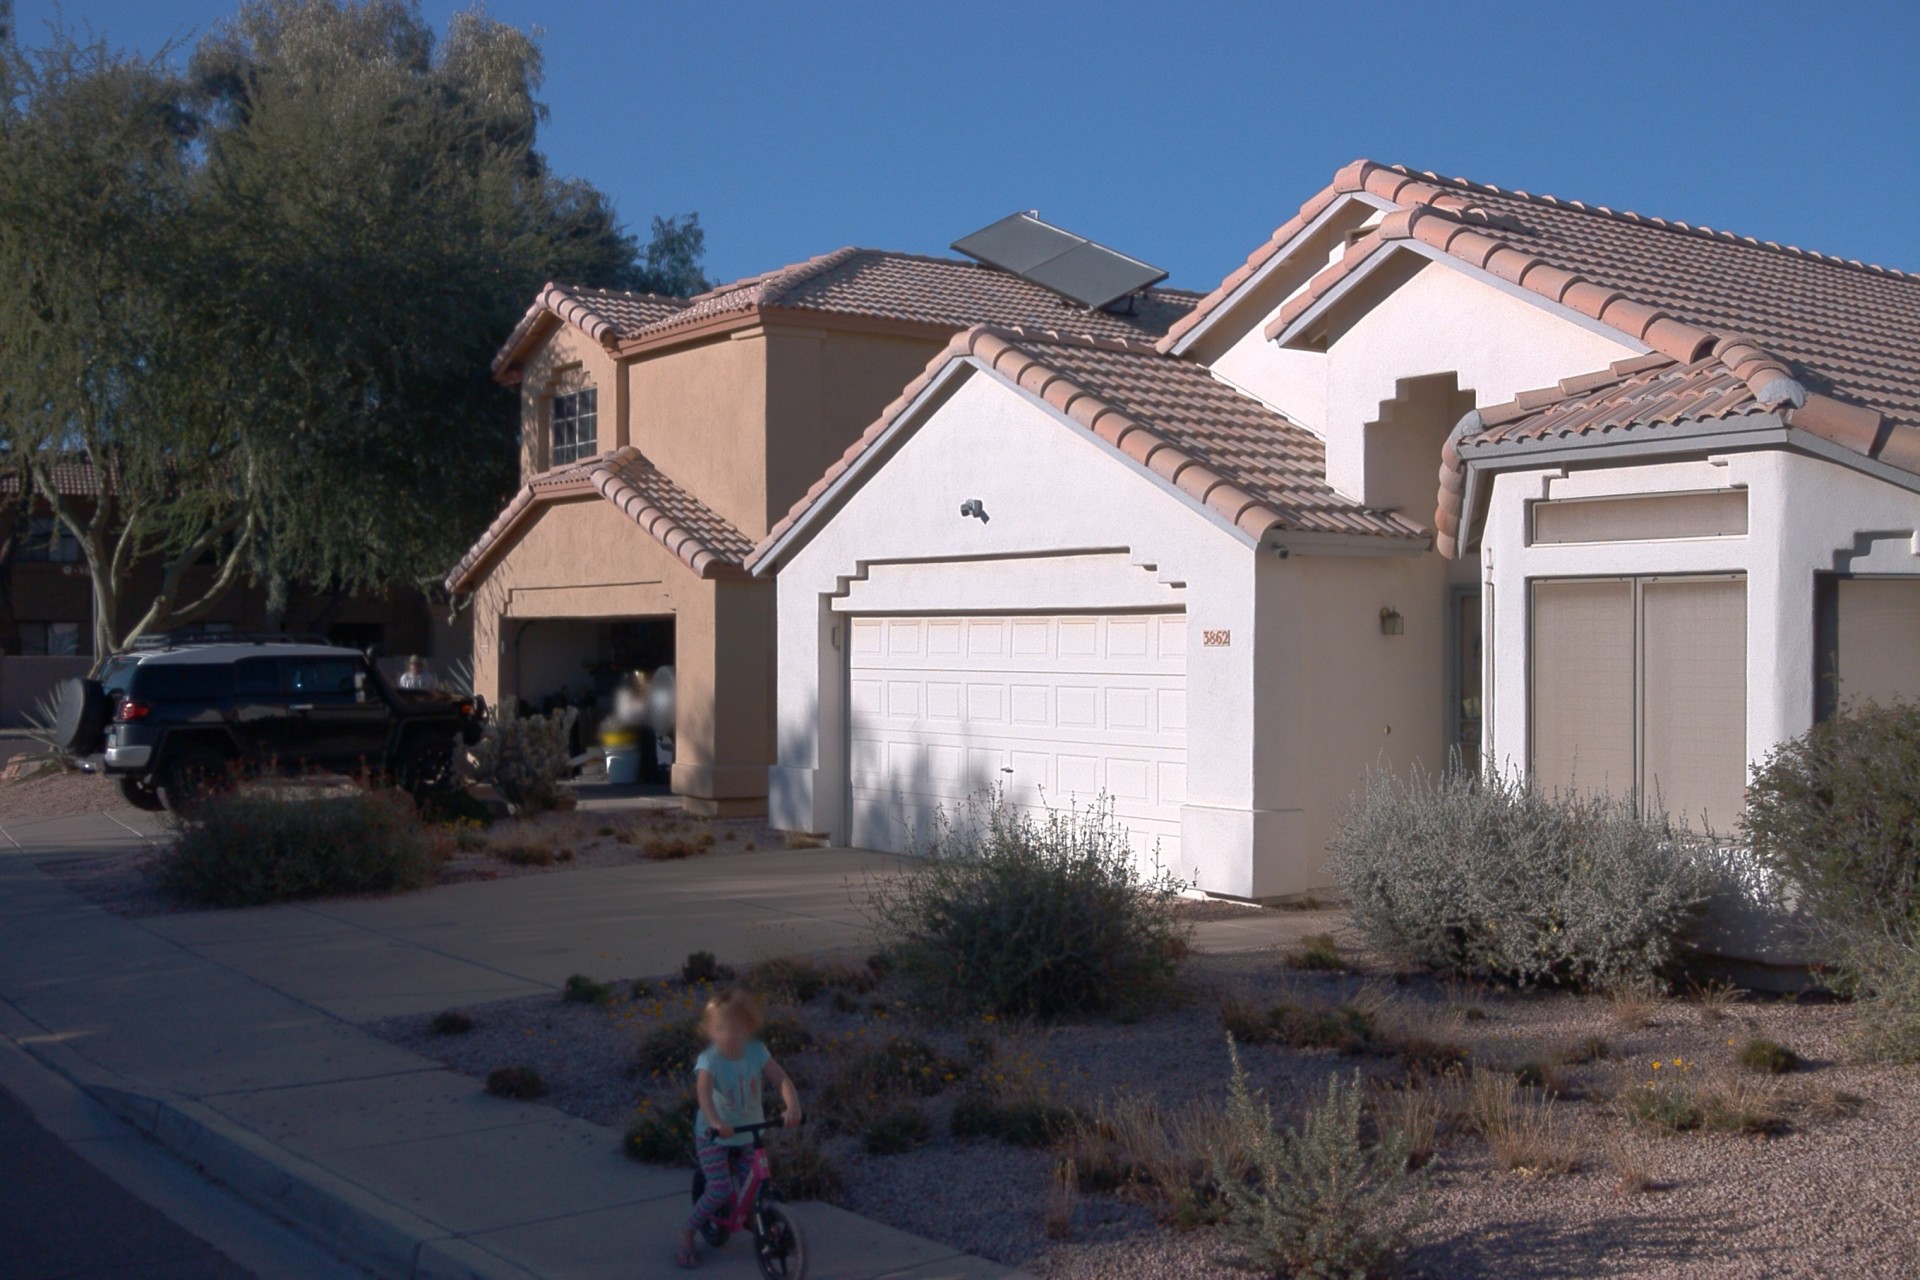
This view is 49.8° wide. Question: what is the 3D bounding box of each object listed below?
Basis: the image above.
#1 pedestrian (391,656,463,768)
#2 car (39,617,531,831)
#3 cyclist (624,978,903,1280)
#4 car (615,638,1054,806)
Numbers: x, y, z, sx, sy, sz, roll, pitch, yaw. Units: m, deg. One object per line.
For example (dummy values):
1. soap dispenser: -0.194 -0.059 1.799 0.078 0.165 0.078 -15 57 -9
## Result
1. pedestrian: -8.403 1.118 32.646 0.854 1.730 1.008 1 0 0
2. car: -7.736 0.921 23.935 4.981 2.240 2.026 1 -1 -35
3. cyclist: -0.652 1.621 6.738 0.527 0.890 0.831 1 -1 -37
4. car: -1.471 0.957 25.350 4.985 1.880 2.057 1 -1 -35
